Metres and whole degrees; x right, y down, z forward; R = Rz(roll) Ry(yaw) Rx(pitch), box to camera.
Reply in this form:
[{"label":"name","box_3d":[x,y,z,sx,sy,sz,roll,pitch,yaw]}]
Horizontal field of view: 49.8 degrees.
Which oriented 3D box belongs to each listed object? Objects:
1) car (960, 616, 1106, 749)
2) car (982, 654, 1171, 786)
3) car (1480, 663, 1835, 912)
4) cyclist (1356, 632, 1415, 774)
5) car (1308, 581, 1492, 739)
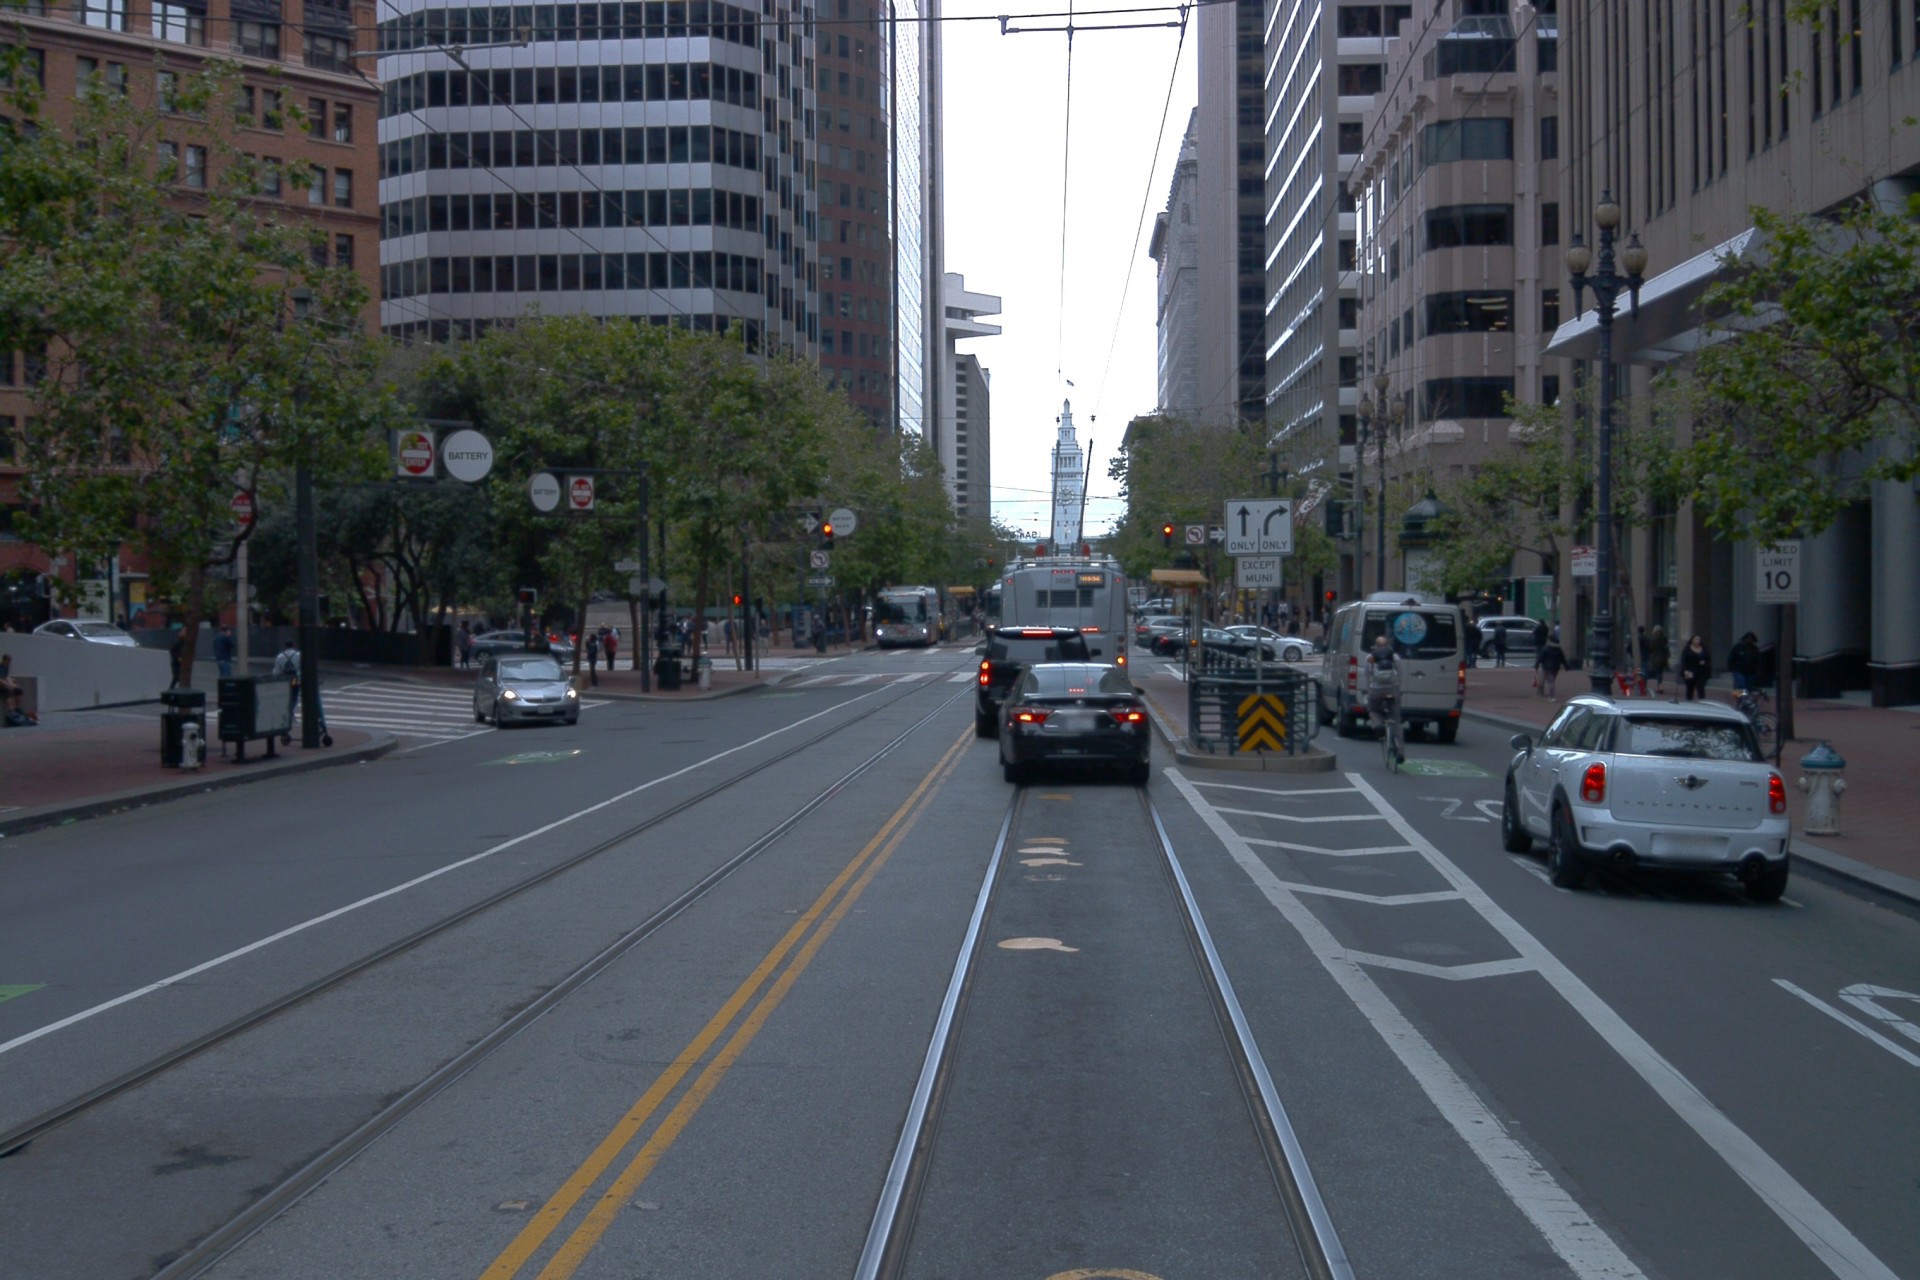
[{"label":"car","box_3d":[1.306,0.649,35.480,2.308,2.100,5.441,0,1,3]},{"label":"car","box_3d":[1.400,0.960,26.669,2.188,1.460,4.687,0,1,0]},{"label":"car","box_3d":[5.751,1.136,17.545,2.075,1.784,3.876,0,1,6]},{"label":"cyclist","box_3d":[5.876,0.845,28.580,0.638,1.900,1.439,0,1,5]},{"label":"car","box_3d":[7.731,0.308,36.862,2.537,2.590,5.348,0,1,5]}]
